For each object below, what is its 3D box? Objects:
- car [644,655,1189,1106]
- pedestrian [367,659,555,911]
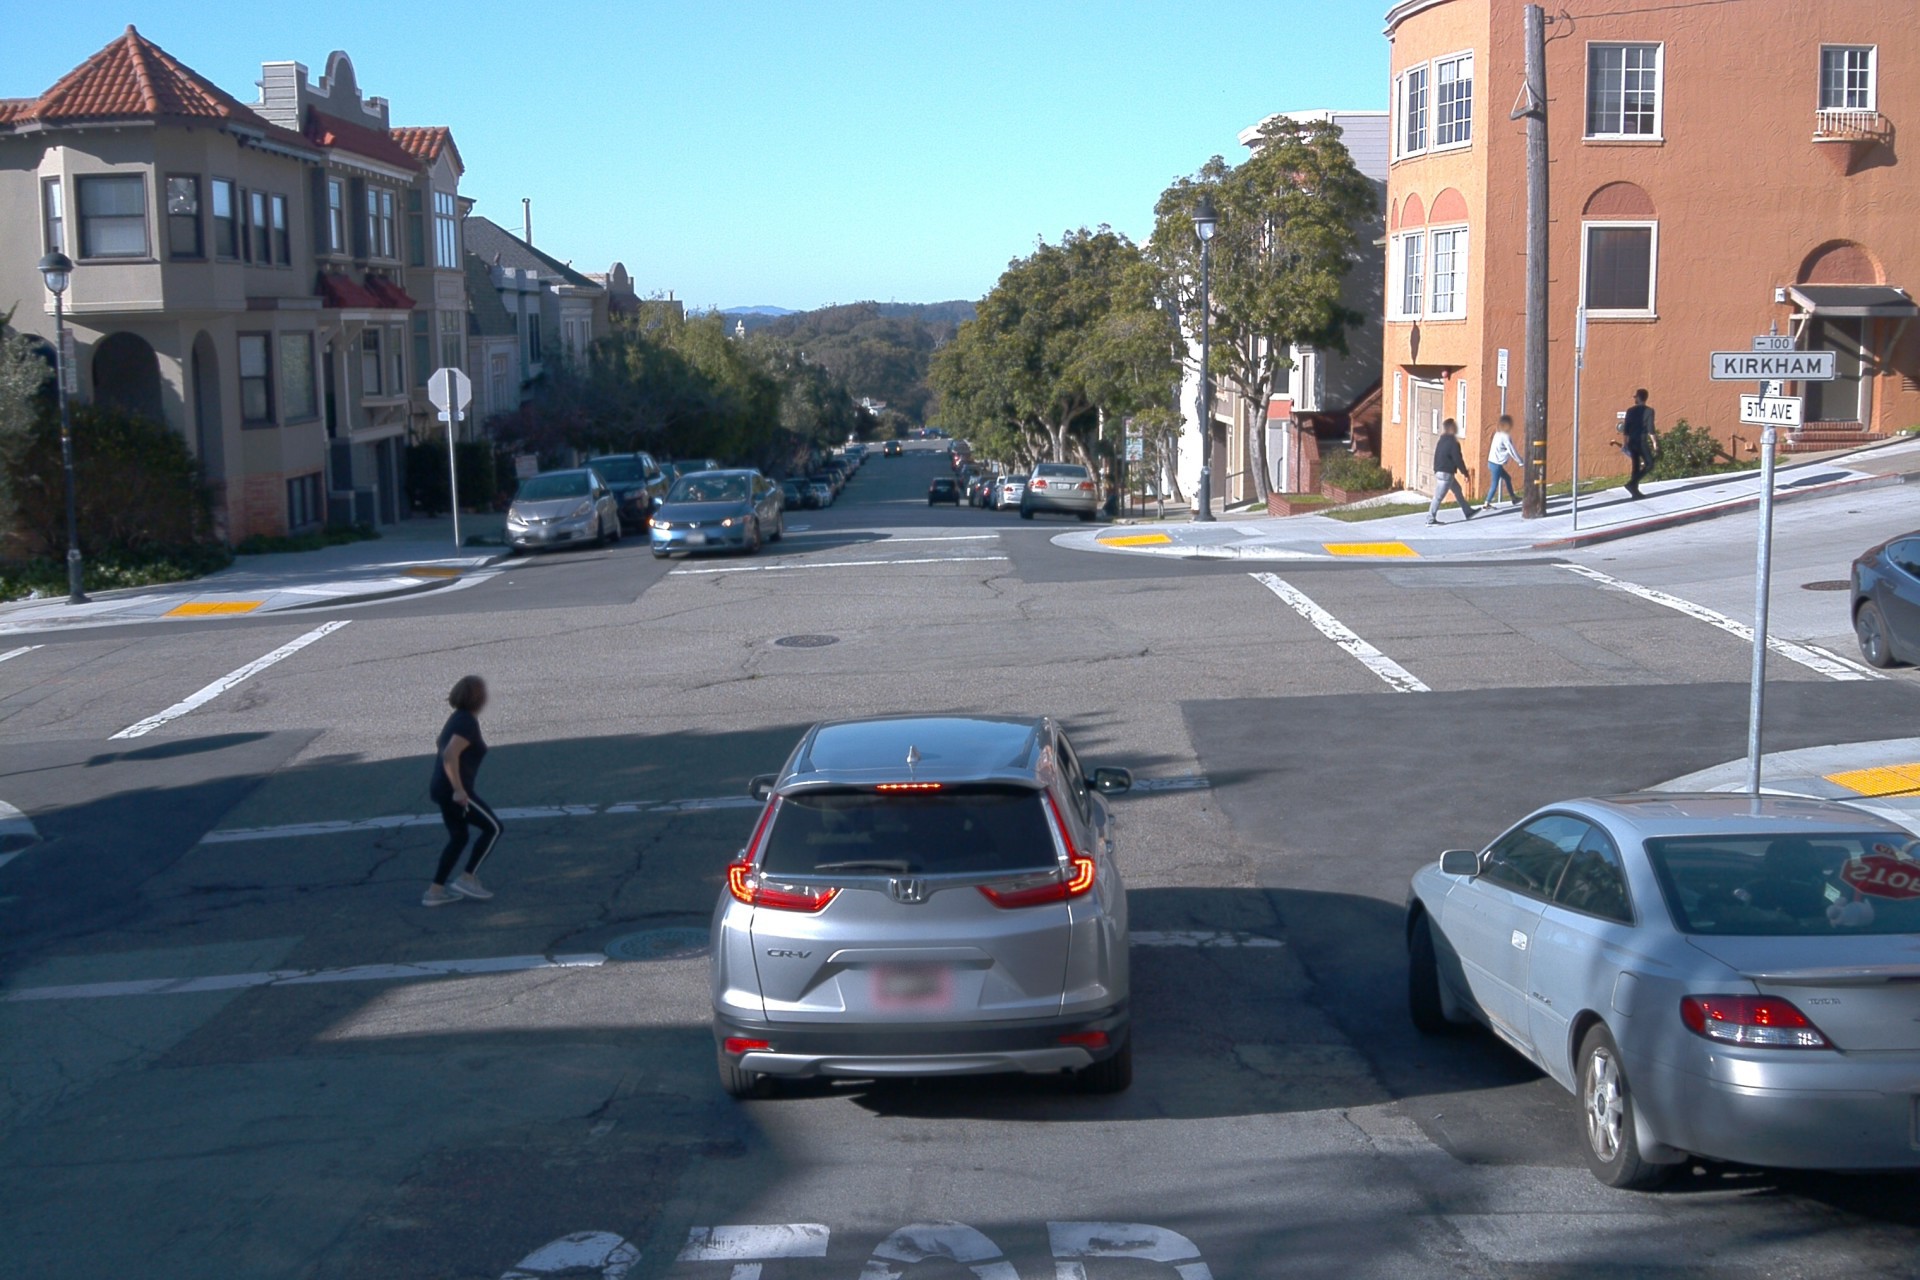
[{"bbox_3d":[-0.188,0.985,10.676,2.191,1.800,4.695,0,0,0],"label":"car"},{"bbox_3d":[-3.346,0.937,13.869,1.128,1.620,0.731,0,0,-22],"label":"pedestrian"}]
